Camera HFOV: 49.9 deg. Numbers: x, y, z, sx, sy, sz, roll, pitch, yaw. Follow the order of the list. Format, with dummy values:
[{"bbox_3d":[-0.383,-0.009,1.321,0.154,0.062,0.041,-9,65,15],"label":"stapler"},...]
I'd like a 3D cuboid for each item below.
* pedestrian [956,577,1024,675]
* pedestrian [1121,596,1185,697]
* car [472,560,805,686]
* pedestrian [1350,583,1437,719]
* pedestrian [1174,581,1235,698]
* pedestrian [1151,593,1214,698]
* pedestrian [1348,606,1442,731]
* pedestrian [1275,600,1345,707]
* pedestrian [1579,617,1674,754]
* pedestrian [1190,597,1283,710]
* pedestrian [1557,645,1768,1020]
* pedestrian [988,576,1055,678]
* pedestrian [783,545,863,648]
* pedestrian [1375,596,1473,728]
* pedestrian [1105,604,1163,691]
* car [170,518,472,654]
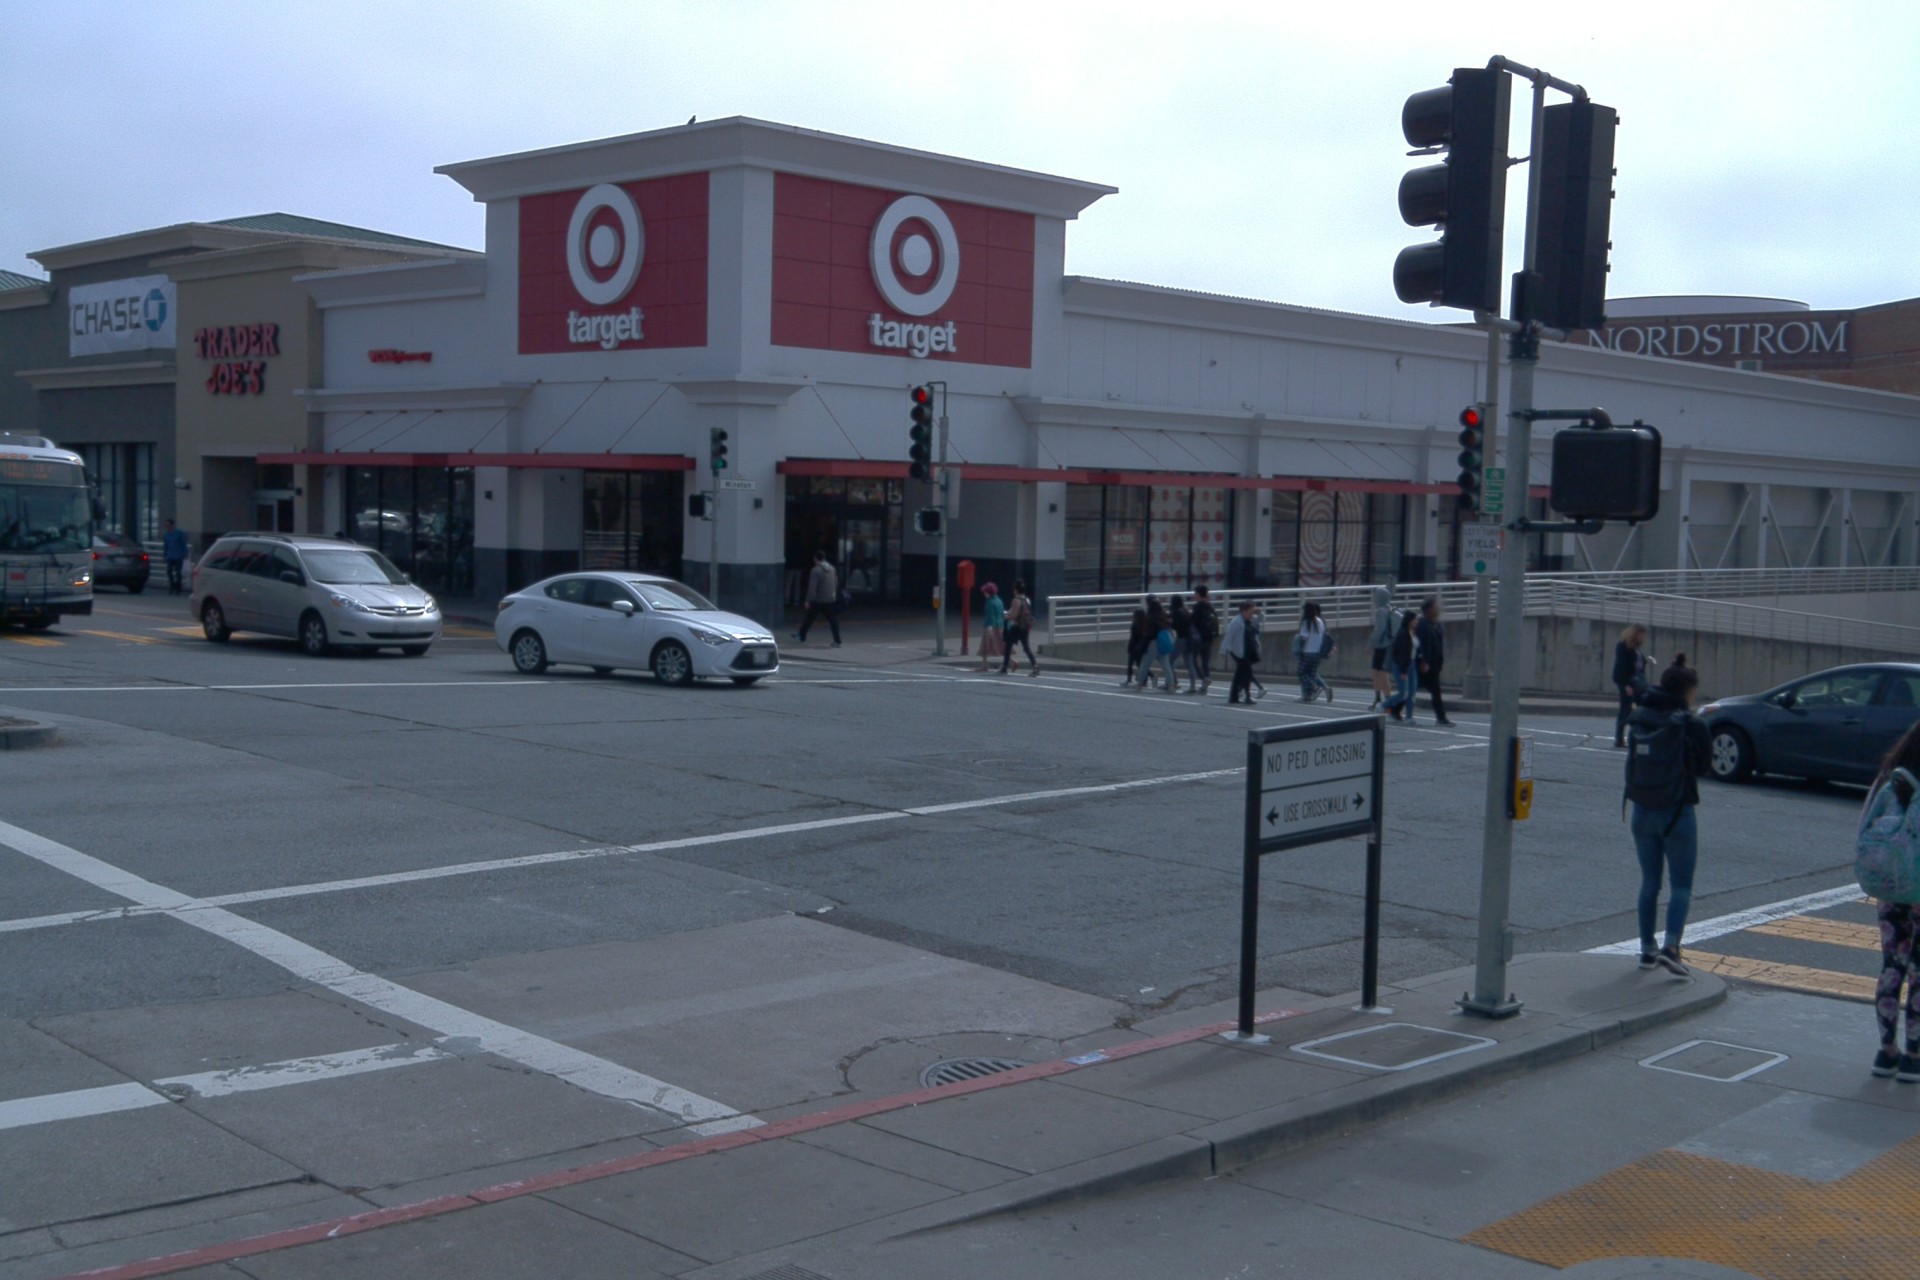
[{"bbox_3d":[0.522,-0.253,35.777,0.873,1.670,0.783,0,1,37],"label":"pedestrian"},{"bbox_3d":[2.956,0.091,31.663,0.707,1.530,0.680,1,1,44],"label":"pedestrian"},{"bbox_3d":[-4.441,-0.238,28.301,4.369,1.600,1.885,0,1,34],"label":"car"},{"bbox_3d":[6.382,0.147,30.391,1.039,1.960,0.717,1,1,41],"label":"pedestrian"},{"bbox_3d":[3.820,-0.015,32.265,0.592,1.800,0.732,-1,1,-44],"label":"pedestrian"},{"bbox_3d":[3.446,0.075,31.943,0.758,1.600,0.587,1,1,41],"label":"pedestrian"},{"bbox_3d":[5.797,0.364,27.513,0.742,1.630,0.987,-1,1,-42],"label":"pedestrian"},{"bbox_3d":[5.400,0.198,31.856,0.890,1.630,0.612,0,1,38],"label":"pedestrian"},{"bbox_3d":[8.393,0.556,25.974,0.926,1.680,0.769,0,1,38],"label":"pedestrian"},{"bbox_3d":[4.013,0.181,29.899,0.972,1.610,0.944,1,1,42],"label":"pedestrian"},{"bbox_3d":[3.550,0.915,10.401,0.843,1.760,0.940,0,1,29],"label":"pedestrian"},{"bbox_3d":[1.035,-0.223,34.780,0.895,1.700,0.689,1,1,42],"label":"pedestrian"},{"bbox_3d":[-2.512,-0.798,37.919,1.043,1.850,1.025,0,1,35],"label":"pedestrian"},{"bbox_3d":[6.275,0.282,27.922,0.795,1.750,1.018,-1,1,-43],"label":"pedestrian"},{"bbox_3d":[2.779,0.112,33.012,0.769,1.360,0.521,0,1,38],"label":"pedestrian"},{"bbox_3d":[-10.137,-0.815,32.548,5.161,1.970,2.221,1,1,42],"label":"car"}]
